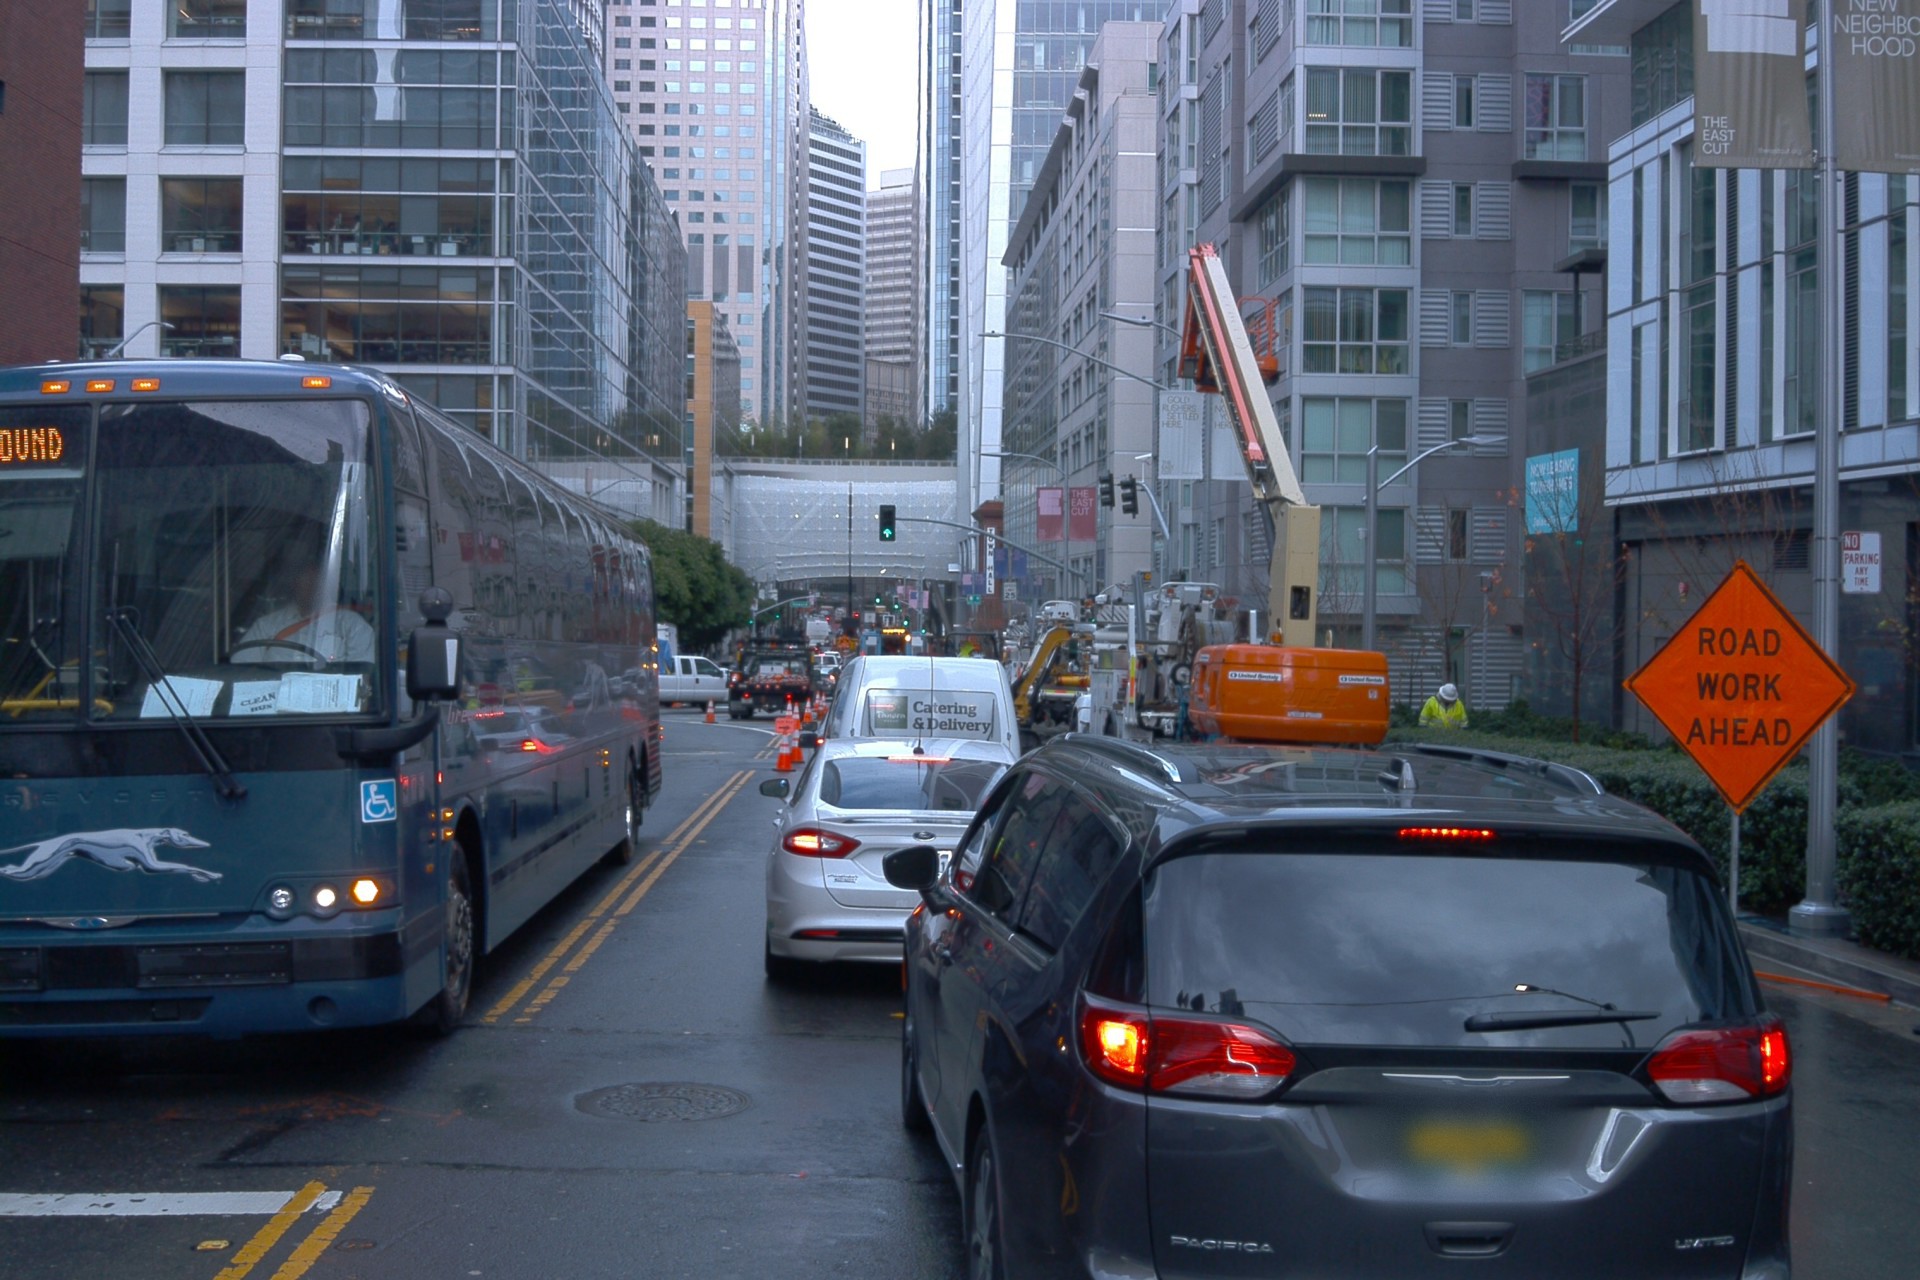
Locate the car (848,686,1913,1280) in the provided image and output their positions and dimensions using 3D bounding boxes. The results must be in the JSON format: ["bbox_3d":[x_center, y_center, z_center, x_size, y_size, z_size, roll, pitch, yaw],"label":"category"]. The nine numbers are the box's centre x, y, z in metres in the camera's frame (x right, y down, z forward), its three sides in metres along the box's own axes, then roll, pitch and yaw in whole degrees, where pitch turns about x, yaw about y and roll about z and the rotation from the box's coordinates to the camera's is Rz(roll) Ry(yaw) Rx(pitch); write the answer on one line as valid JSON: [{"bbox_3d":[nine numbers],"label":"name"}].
[{"bbox_3d":[0.802,1.112,6.811,2.058,1.750,4.787,1,1,-6],"label":"car"}]

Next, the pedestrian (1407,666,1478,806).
[{"bbox_3d":[6.886,1.362,29.449,0.821,1.949,0.618,1,0,-3],"label":"pedestrian"}]

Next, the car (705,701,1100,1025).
[{"bbox_3d":[-0.378,1.305,13.826,2.164,1.580,4.901,1,1,-1],"label":"car"}]

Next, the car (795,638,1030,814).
[{"bbox_3d":[-0.542,0.746,19.507,1.860,1.470,3.431,1,1,-7],"label":"car"}]
